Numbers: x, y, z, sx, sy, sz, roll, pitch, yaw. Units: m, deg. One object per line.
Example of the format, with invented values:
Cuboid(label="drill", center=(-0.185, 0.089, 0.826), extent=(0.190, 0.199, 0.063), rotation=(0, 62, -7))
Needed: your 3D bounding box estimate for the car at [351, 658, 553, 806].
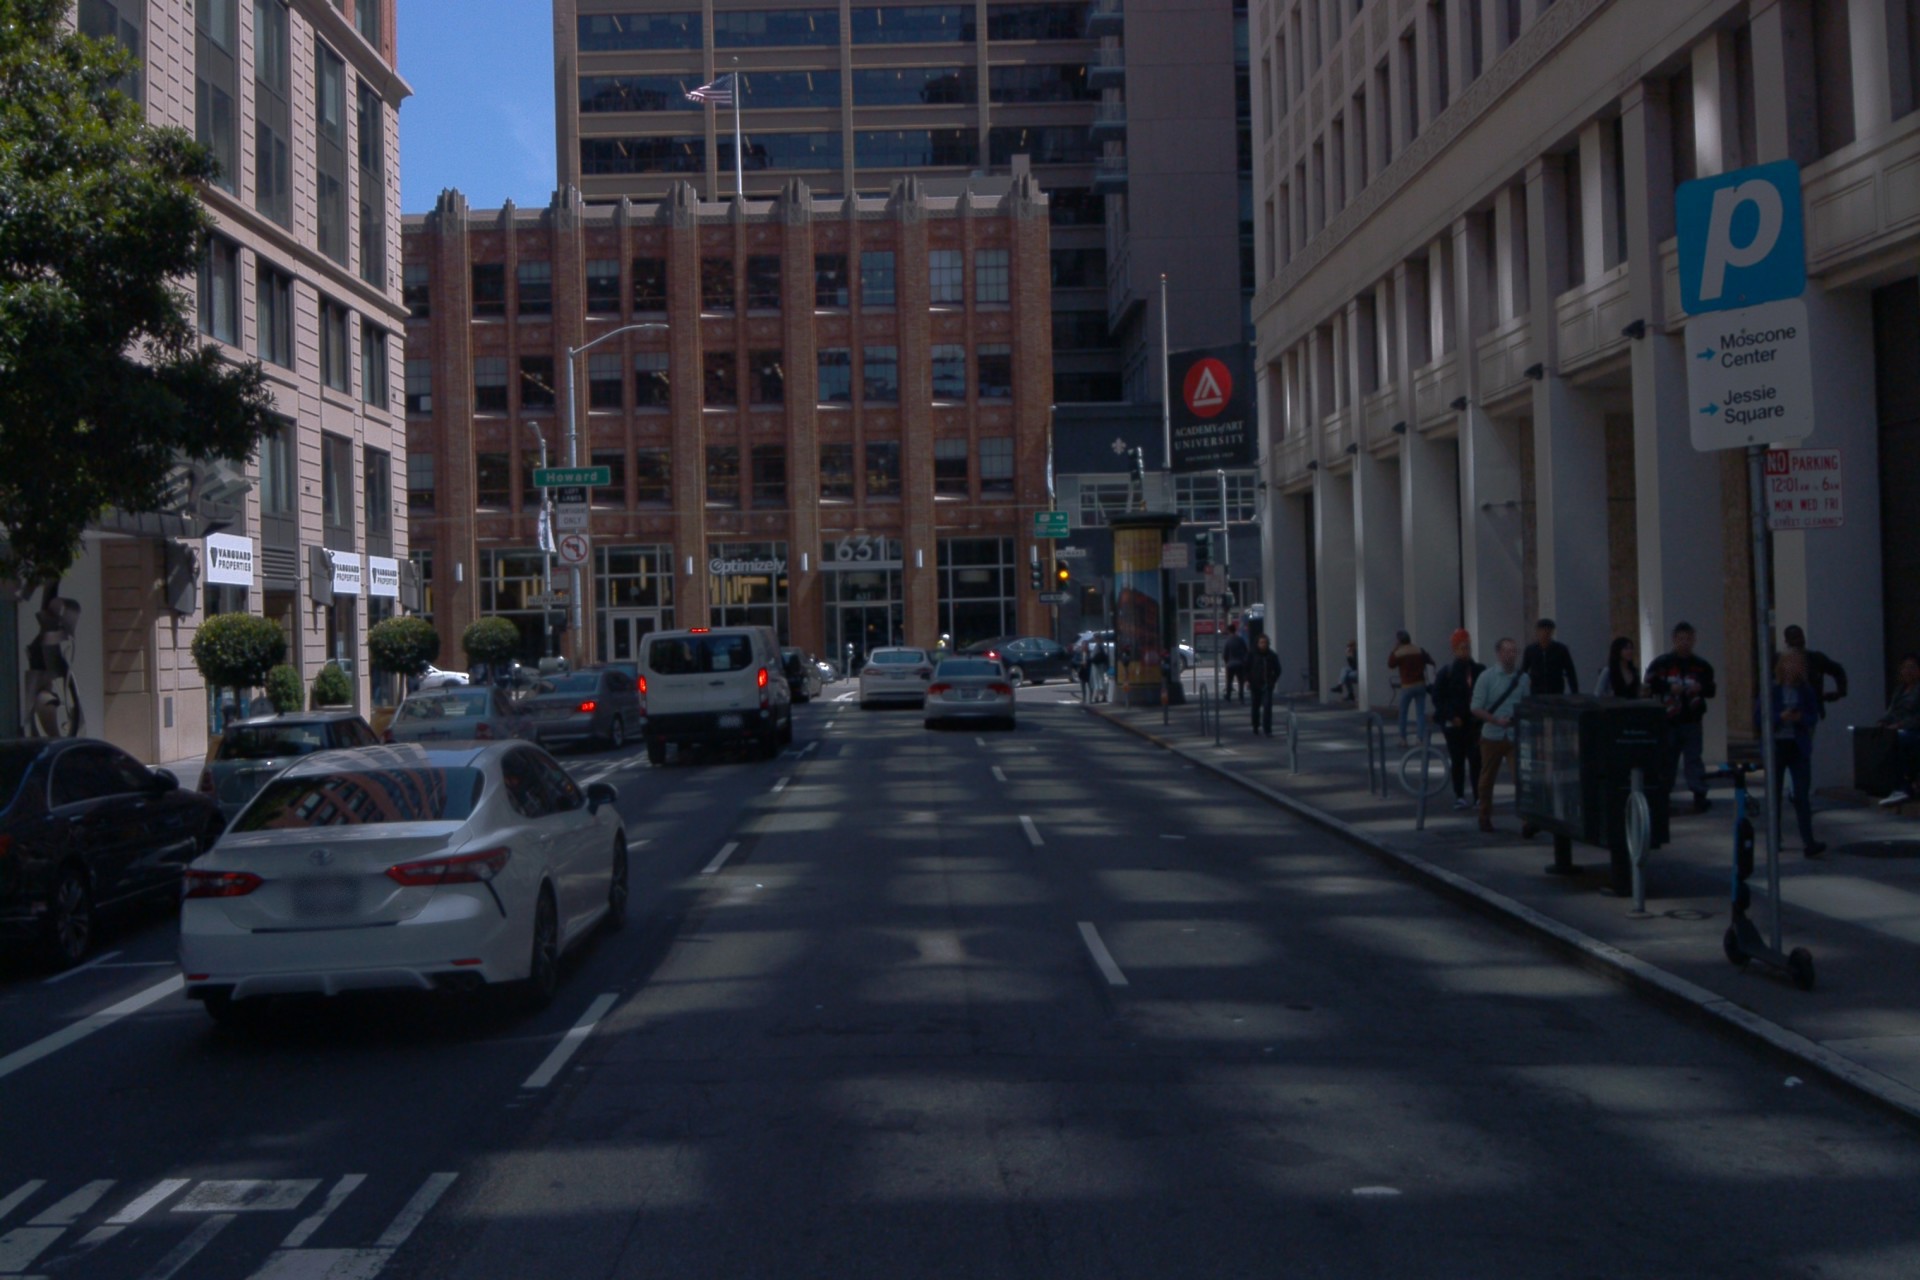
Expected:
Cuboid(label="car", center=(-6.975, 1.198, 28.705), extent=(2.013, 1.790, 4.575), rotation=(0, 1, -4))

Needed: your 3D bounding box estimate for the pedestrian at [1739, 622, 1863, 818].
Cuboid(label="pedestrian", center=(7.652, 0.705, 18.738), extent=(0.864, 1.736, 0.941), rotation=(0, 1, 10))

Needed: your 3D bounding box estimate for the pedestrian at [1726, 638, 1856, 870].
Cuboid(label="pedestrian", center=(6.444, 0.861, 15.975), extent=(0.740, 1.736, 0.893), rotation=(0, 1, 9))

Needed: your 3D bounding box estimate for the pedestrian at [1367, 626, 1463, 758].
Cuboid(label="pedestrian", center=(6.503, 0.722, 29.417), extent=(0.896, 1.846, 1.143), rotation=(0, 1, -16))

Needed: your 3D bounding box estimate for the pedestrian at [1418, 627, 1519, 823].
Cuboid(label="pedestrian", center=(5.047, 0.823, 20.452), extent=(0.868, 1.886, 0.942), rotation=(0, 1, 7))

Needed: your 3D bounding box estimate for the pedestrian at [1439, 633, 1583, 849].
Cuboid(label="pedestrian", center=(4.890, 0.868, 18.314), extent=(0.897, 1.846, 1.186), rotation=(0, 1, -4))

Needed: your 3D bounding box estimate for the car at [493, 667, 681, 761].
Cuboid(label="car", center=(-6.772, 1.310, 37.863), extent=(1.953, 1.500, 4.736), rotation=(0, 1, 9))

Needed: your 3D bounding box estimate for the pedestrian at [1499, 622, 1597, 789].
Cuboid(label="pedestrian", center=(6.860, 0.736, 23.964), extent=(0.901, 1.886, 1.181), rotation=(0, 1, 26))

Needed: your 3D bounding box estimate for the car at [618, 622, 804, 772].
Cuboid(label="car", center=(-3.923, 0.830, 33.484), extent=(2.374, 2.200, 5.788), rotation=(0, 1, 0))

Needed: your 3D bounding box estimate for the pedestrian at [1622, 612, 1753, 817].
Cuboid(label="pedestrian", center=(6.929, 0.687, 19.632), extent=(0.894, 1.906, 1.031), rotation=(0, 1, 1))

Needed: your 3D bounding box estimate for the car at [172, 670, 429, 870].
Cuboid(label="car", center=(-6.929, 1.293, 21.988), extent=(1.876, 1.840, 3.763), rotation=(0, 1, -6))

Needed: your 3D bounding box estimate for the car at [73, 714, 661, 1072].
Cuboid(label="car", center=(-3.272, 1.331, 12.603), extent=(2.215, 1.500, 5.057), rotation=(0, 1, -1))

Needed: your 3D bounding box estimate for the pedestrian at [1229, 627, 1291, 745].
Cuboid(label="pedestrian", center=(4.895, 0.732, 33.576), extent=(0.898, 1.886, 1.185), rotation=(0, 1, 3))

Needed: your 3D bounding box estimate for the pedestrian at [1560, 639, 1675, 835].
Cuboid(label="pedestrian", center=(6.243, 0.899, 19.565), extent=(0.782, 1.806, 0.992), rotation=(0, 1, 1))
